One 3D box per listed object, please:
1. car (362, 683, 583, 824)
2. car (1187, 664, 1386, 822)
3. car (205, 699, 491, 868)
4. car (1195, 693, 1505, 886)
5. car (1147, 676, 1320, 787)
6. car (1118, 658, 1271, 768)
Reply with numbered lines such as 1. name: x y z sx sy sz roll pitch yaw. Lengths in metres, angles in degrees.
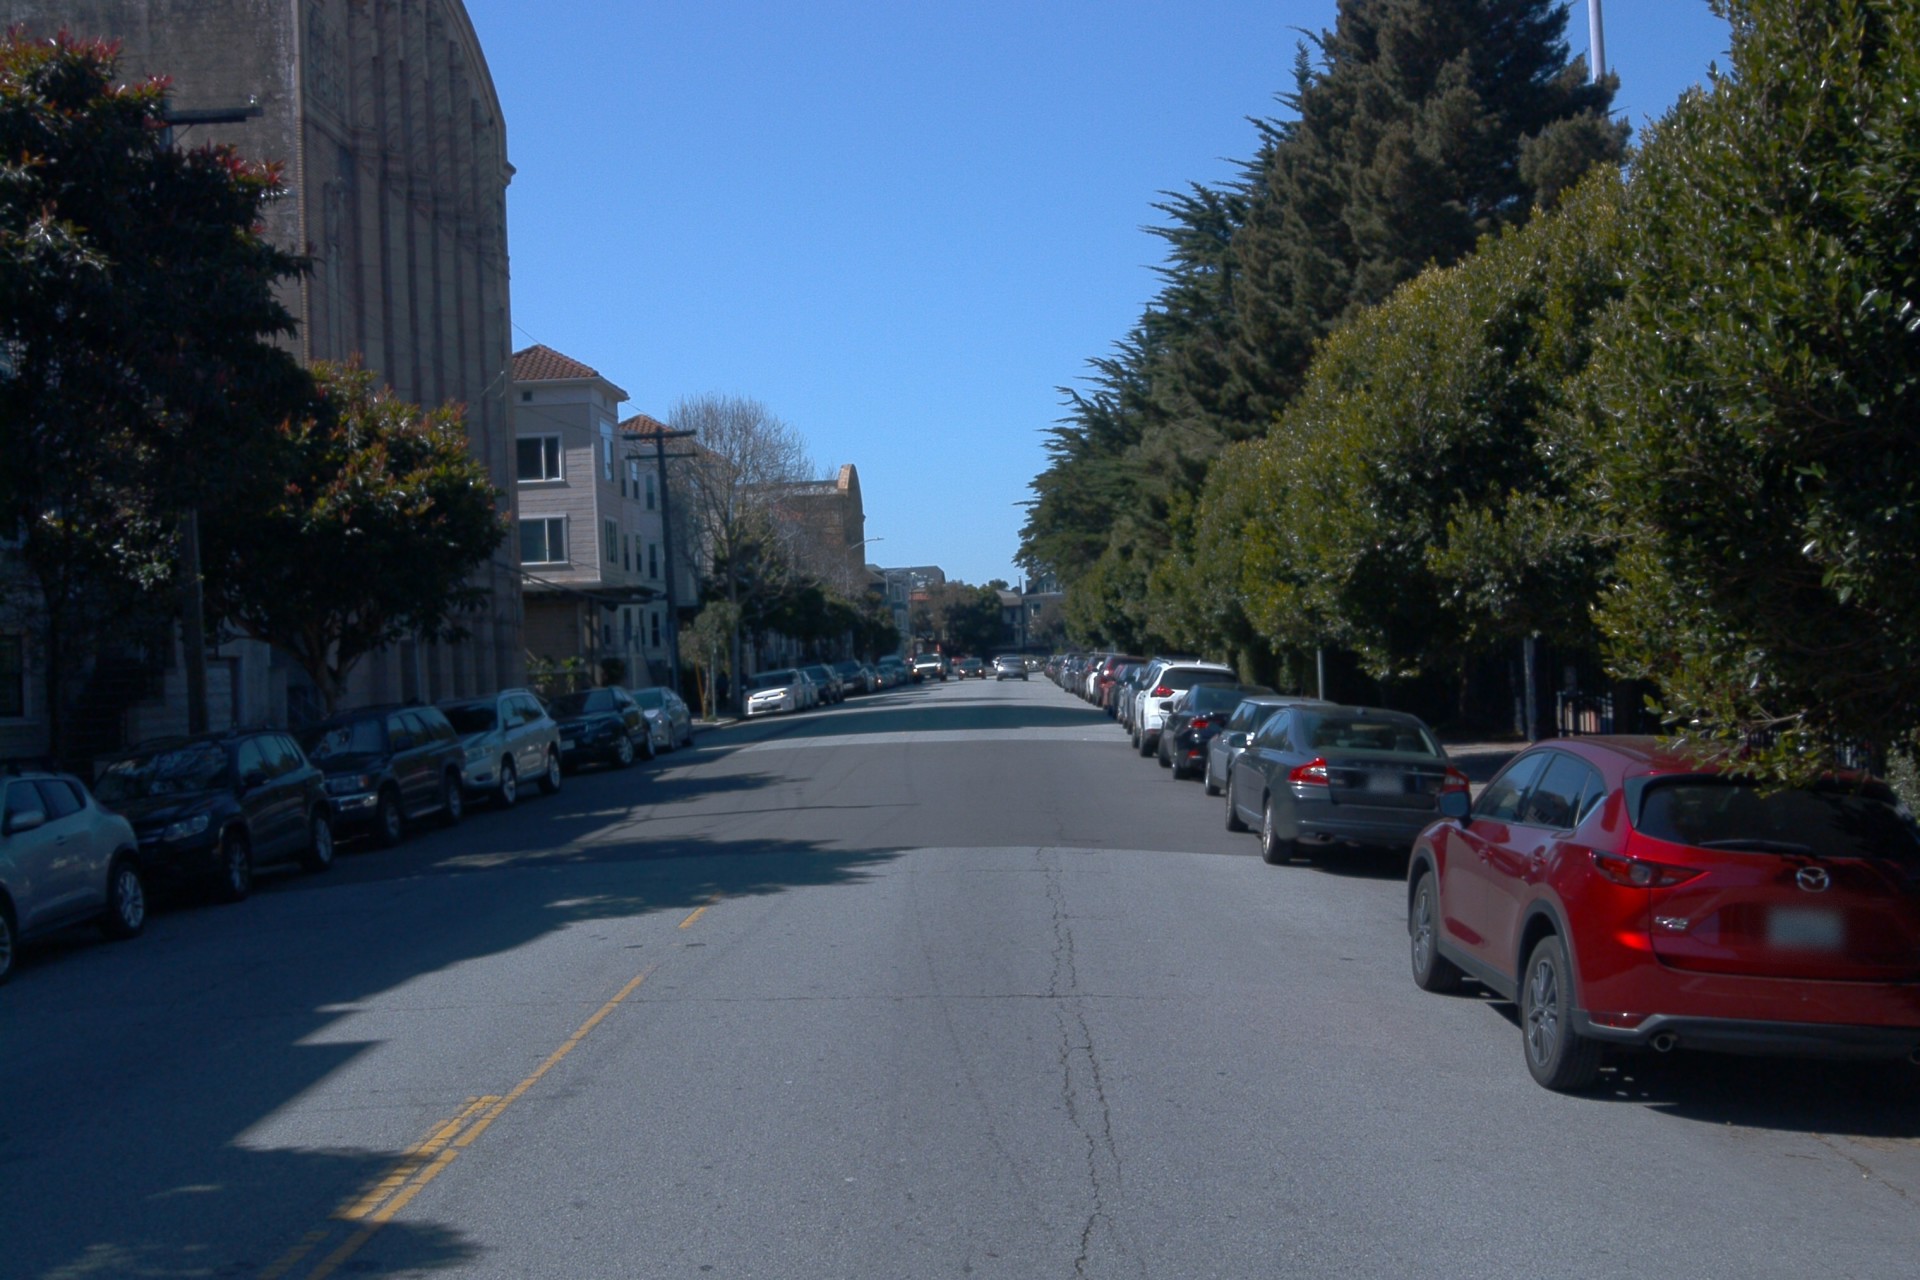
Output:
1. car: -7.334 1.650 31.290 2.022 1.840 4.848 1 0 3
2. car: 4.059 1.236 25.972 1.987 1.780 3.836 1 0 2
3. car: -7.703 1.744 26.280 2.005 1.780 4.775 1 0 3
4. car: 3.750 1.394 20.665 2.225 1.530 5.001 1 0 1
5. car: 4.052 1.324 31.050 2.050 1.420 4.776 1 0 1
6. car: 4.100 1.238 36.485 2.195 1.750 4.826 1 0 1
